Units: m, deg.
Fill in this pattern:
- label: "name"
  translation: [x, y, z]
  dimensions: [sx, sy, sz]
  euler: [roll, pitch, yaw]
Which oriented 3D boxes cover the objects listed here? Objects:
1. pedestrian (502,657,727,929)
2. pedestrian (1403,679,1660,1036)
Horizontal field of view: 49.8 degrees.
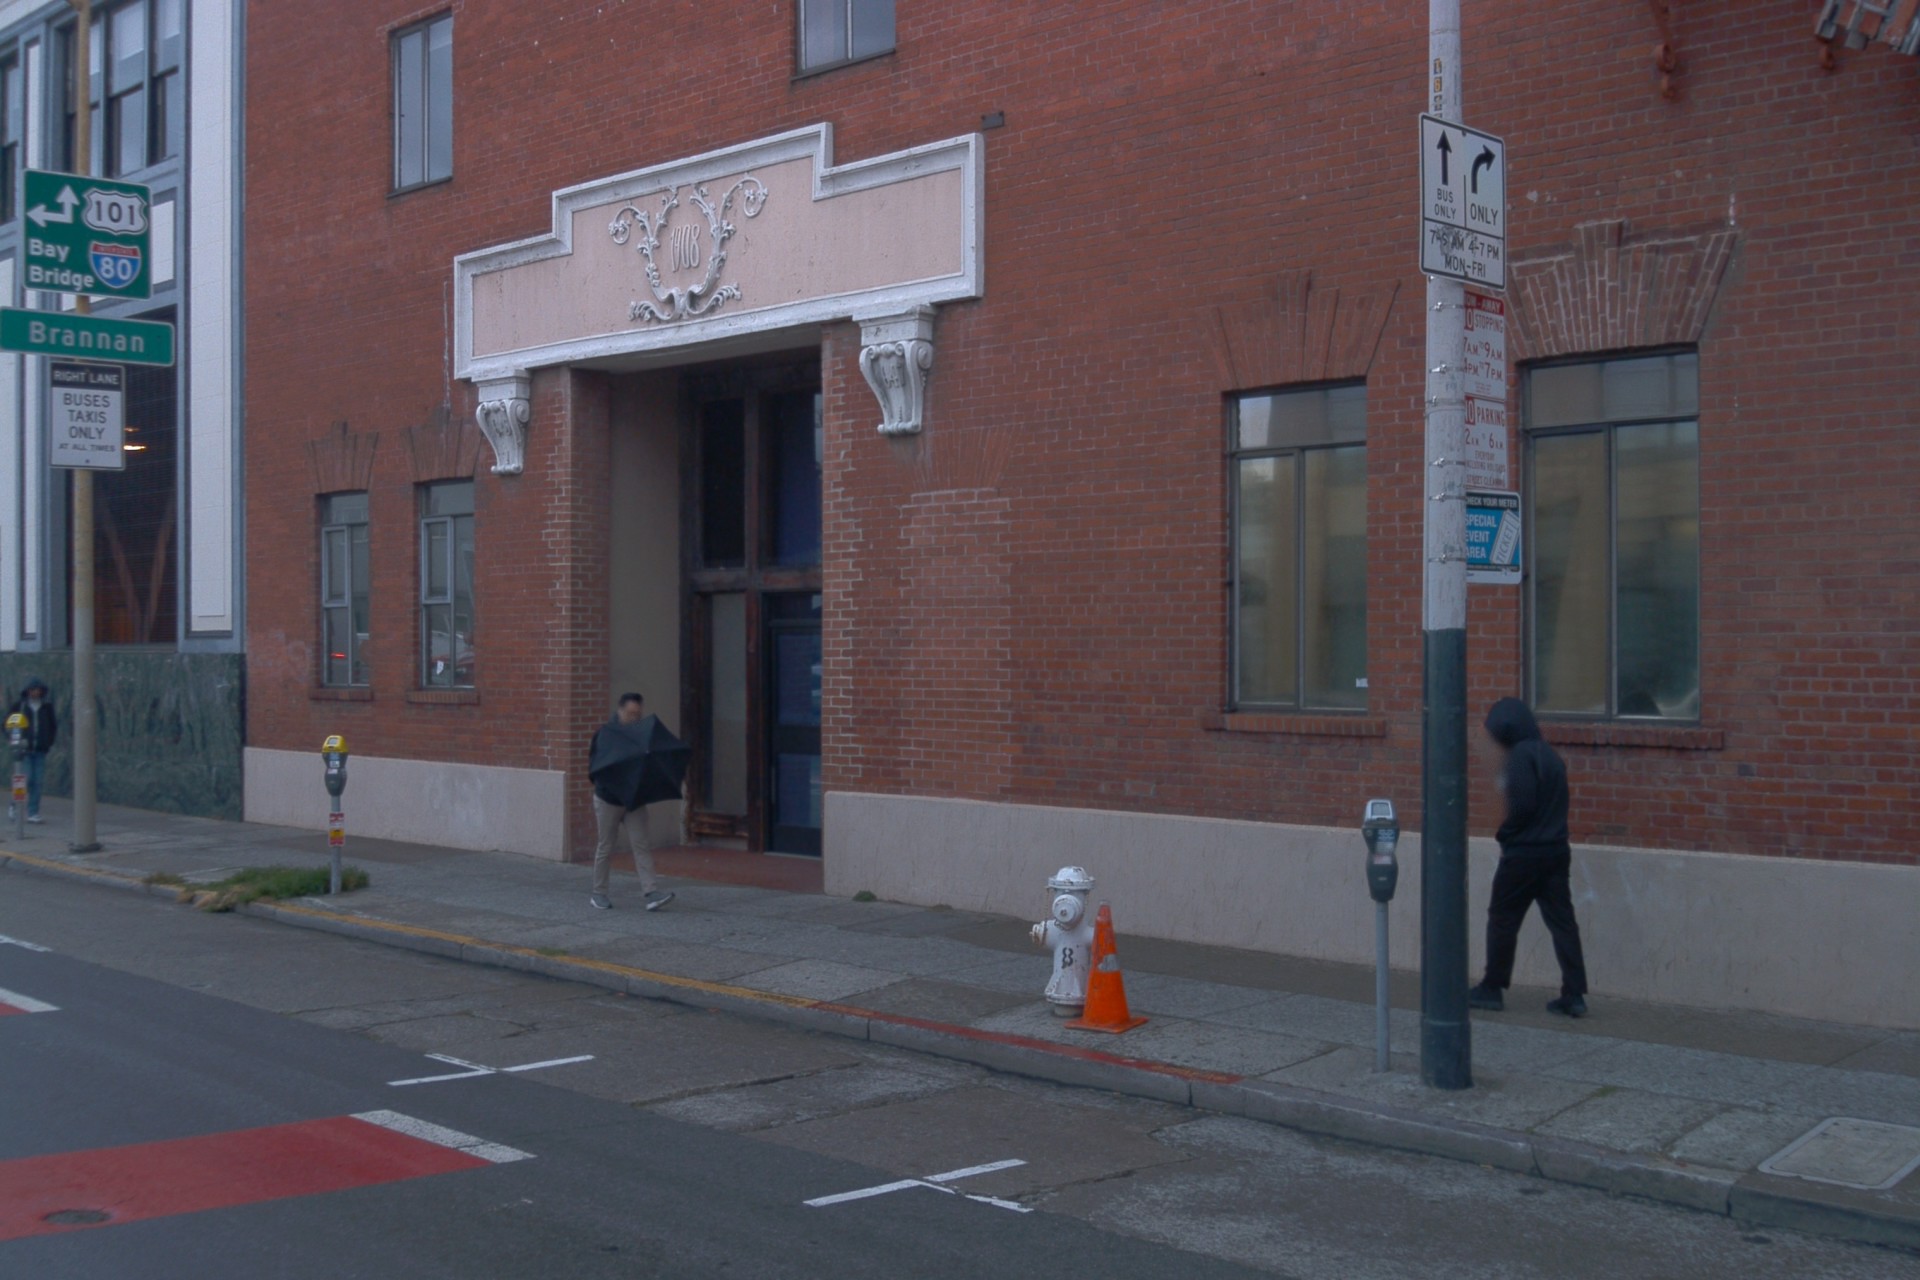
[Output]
- label: "pedestrian"
  translation: [-2.672, 1.120, 15.953]
  dimensions: [1.005, 1.970, 1.539]
  euler: [1, -1, -44]
- label: "pedestrian"
  translation: [3.177, 1.152, 11.528]
  dimensions: [0.798, 1.848, 1.126]
  euler: [1, -1, -45]
